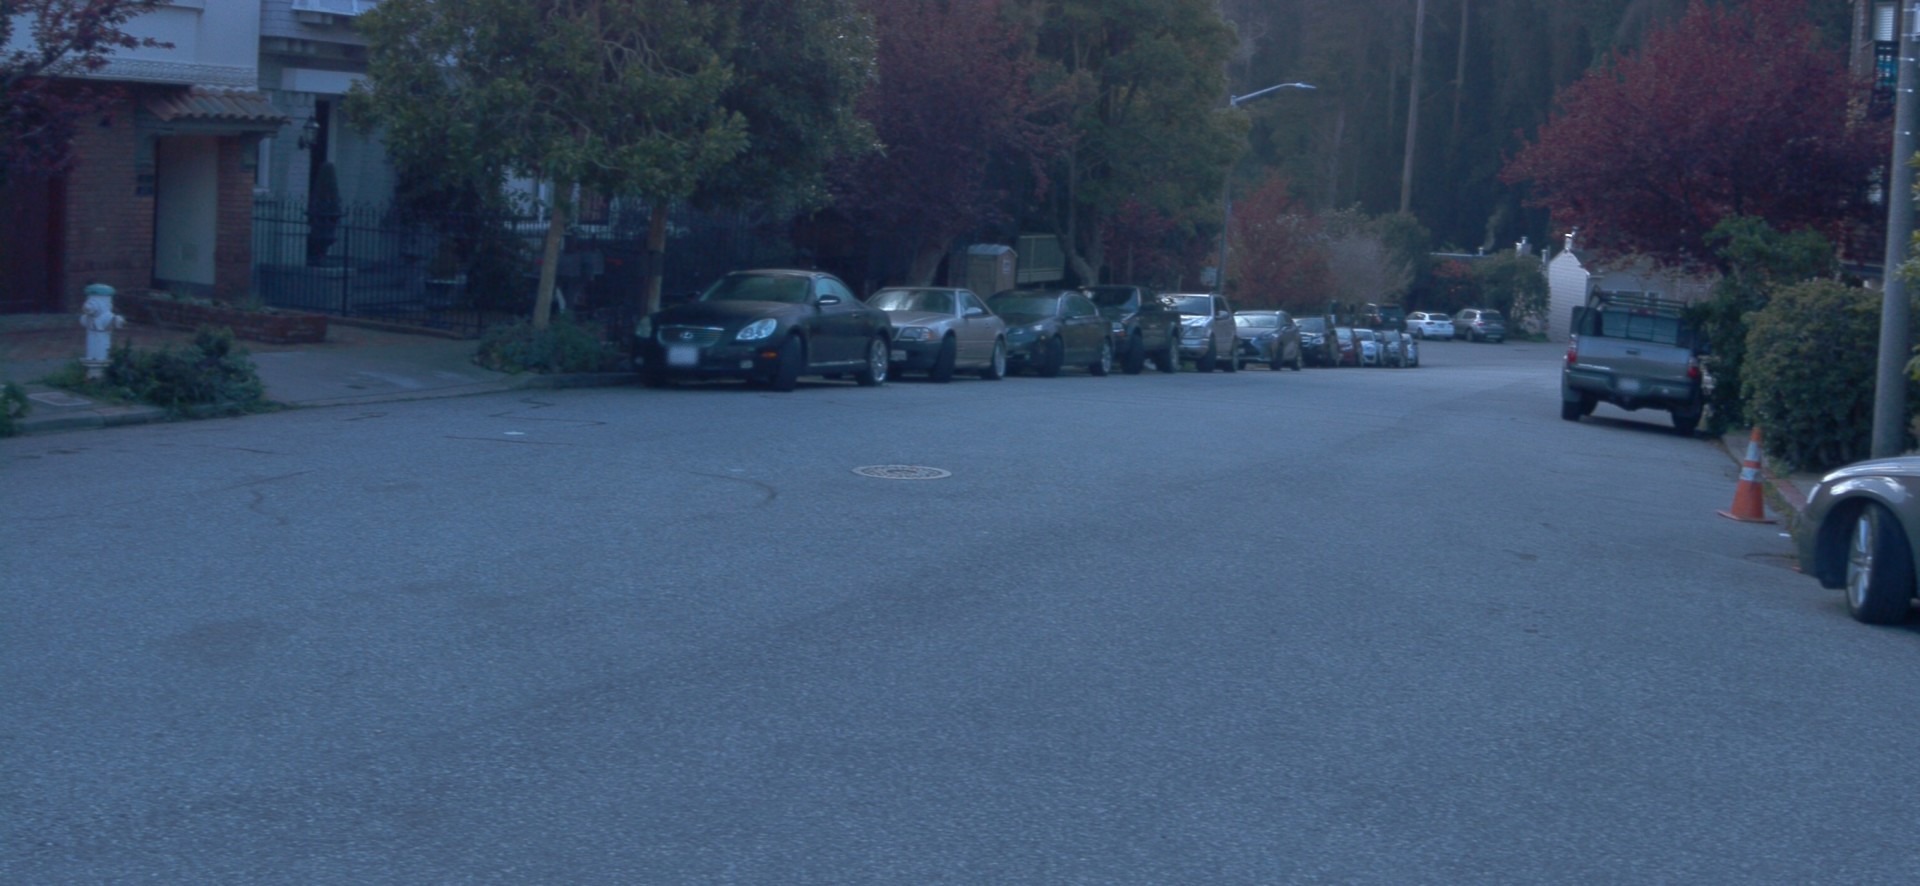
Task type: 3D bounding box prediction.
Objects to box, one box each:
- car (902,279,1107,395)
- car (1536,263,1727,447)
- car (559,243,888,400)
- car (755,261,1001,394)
[{"bbox_3d":[0.821,-1.806,33.840,1.858,1.551,4.729,2,6,21],"label":"car"},{"bbox_3d":[10.293,-1.475,31.487,2.529,2.348,5.604,1,6,19],"label":"car"},{"bbox_3d":[-2.533,-1.468,23.377,1.994,1.484,4.478,2,6,18],"label":"car"},{"bbox_3d":[-1.017,-1.659,28.324,2.014,1.515,4.423,1,6,17],"label":"car"}]
